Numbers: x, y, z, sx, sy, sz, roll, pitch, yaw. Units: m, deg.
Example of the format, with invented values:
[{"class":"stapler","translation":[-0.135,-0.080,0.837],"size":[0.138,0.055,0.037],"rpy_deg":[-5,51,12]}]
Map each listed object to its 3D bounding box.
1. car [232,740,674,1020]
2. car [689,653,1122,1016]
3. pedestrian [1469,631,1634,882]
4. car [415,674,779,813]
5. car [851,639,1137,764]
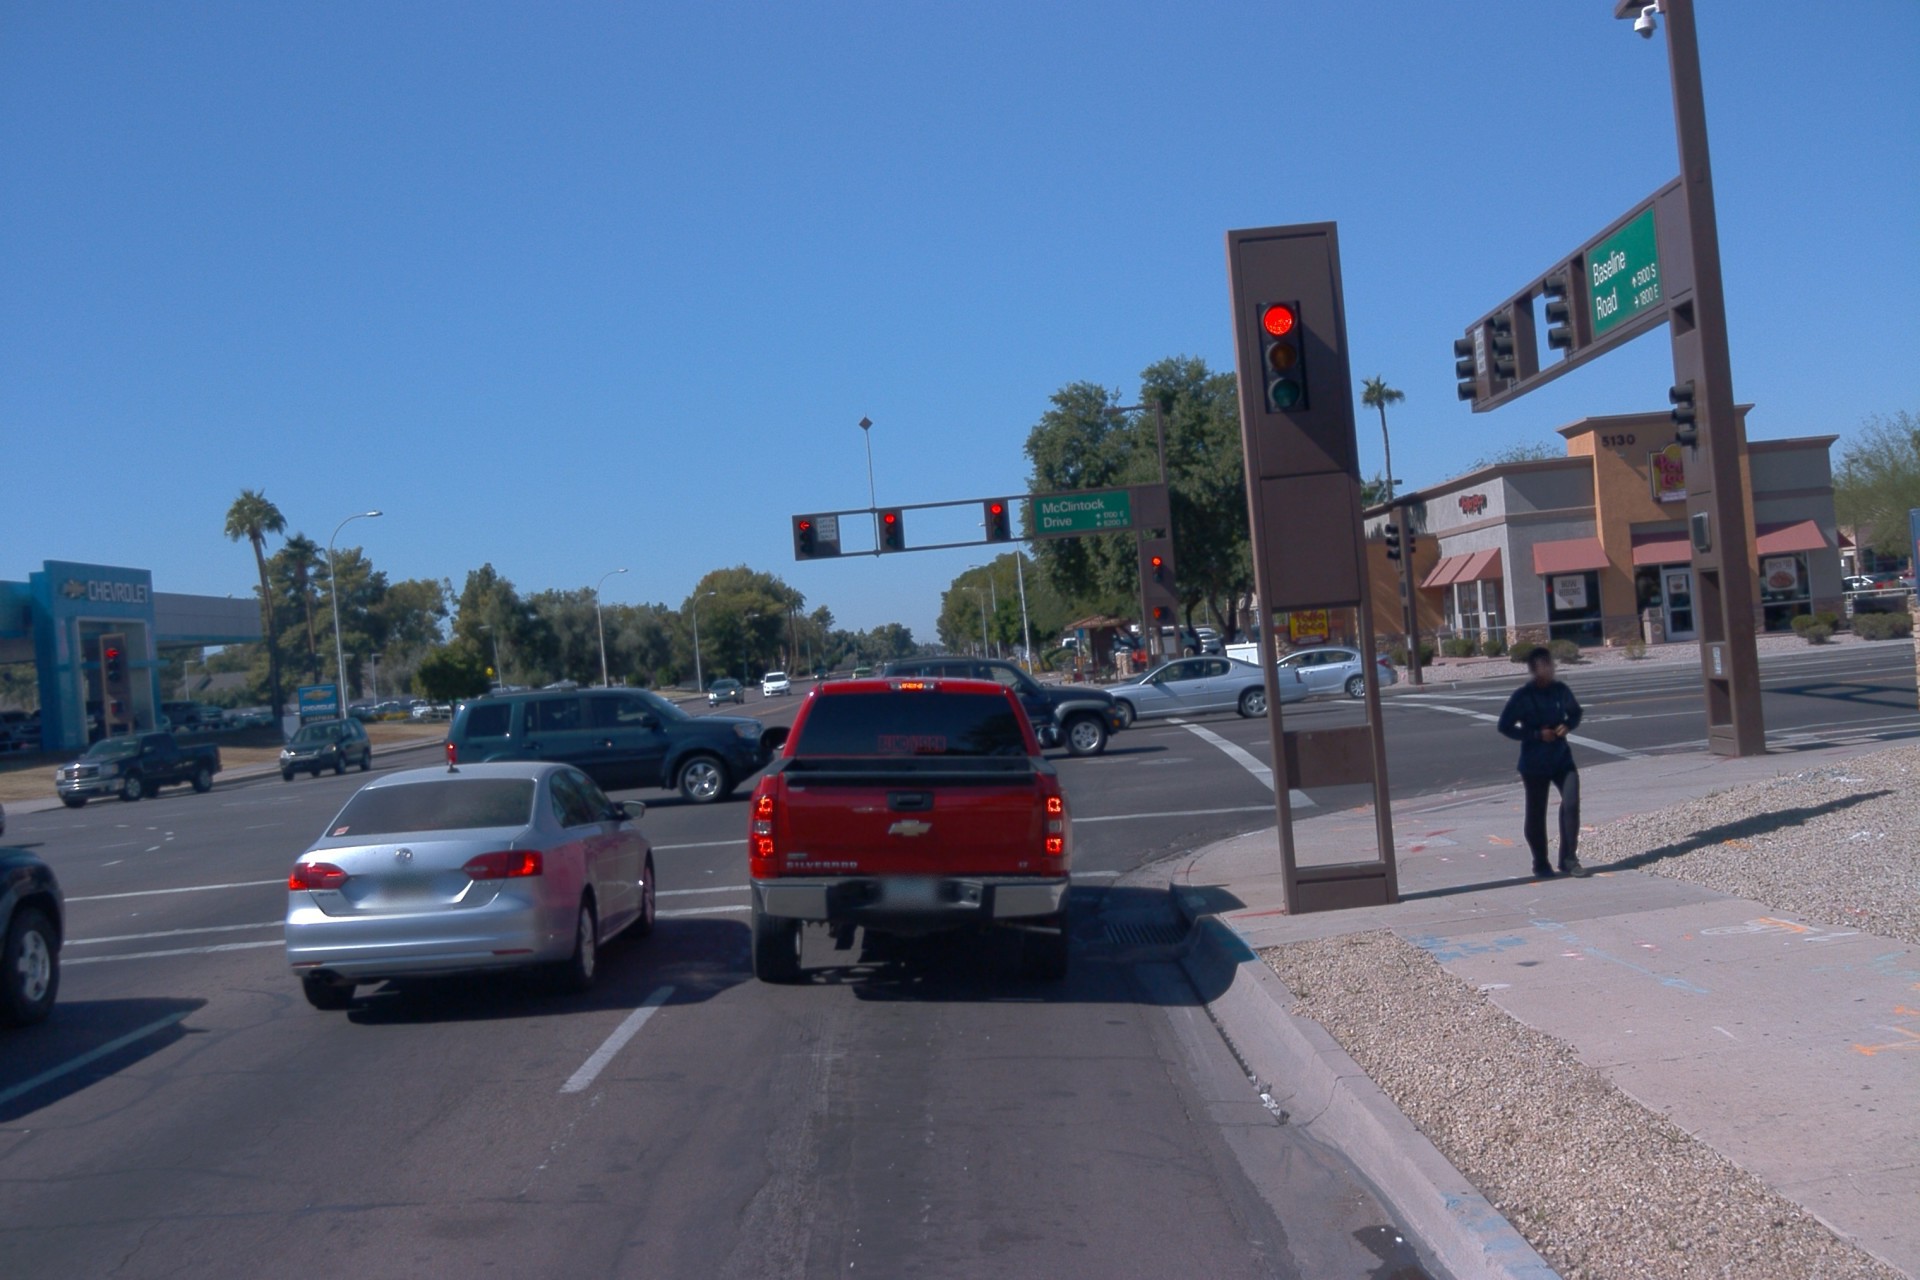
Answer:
[{"class":"car","translation":[-3.217,1.485,14.166],"size":[1.920,1.450,4.335],"rpy_deg":[1,-1,0]},{"class":"car","translation":[-0.359,1.192,15.183],"size":[2.538,2.120,5.758],"rpy_deg":[1,-1,-1]},{"class":"pedestrian","translation":[4.191,0.807,14.845],"size":[0.807,1.714,1.172],"rpy_deg":[1,-1,-1]},{"class":"car","translation":[-5.197,1.469,30.338],"size":[4.894,1.904,2.112],"rpy_deg":[1,-1,1]},{"class":"car","translation":[0.545,0.999,34.147],"size":[4.528,1.940,2.093],"rpy_deg":[1,-1,0]}]
